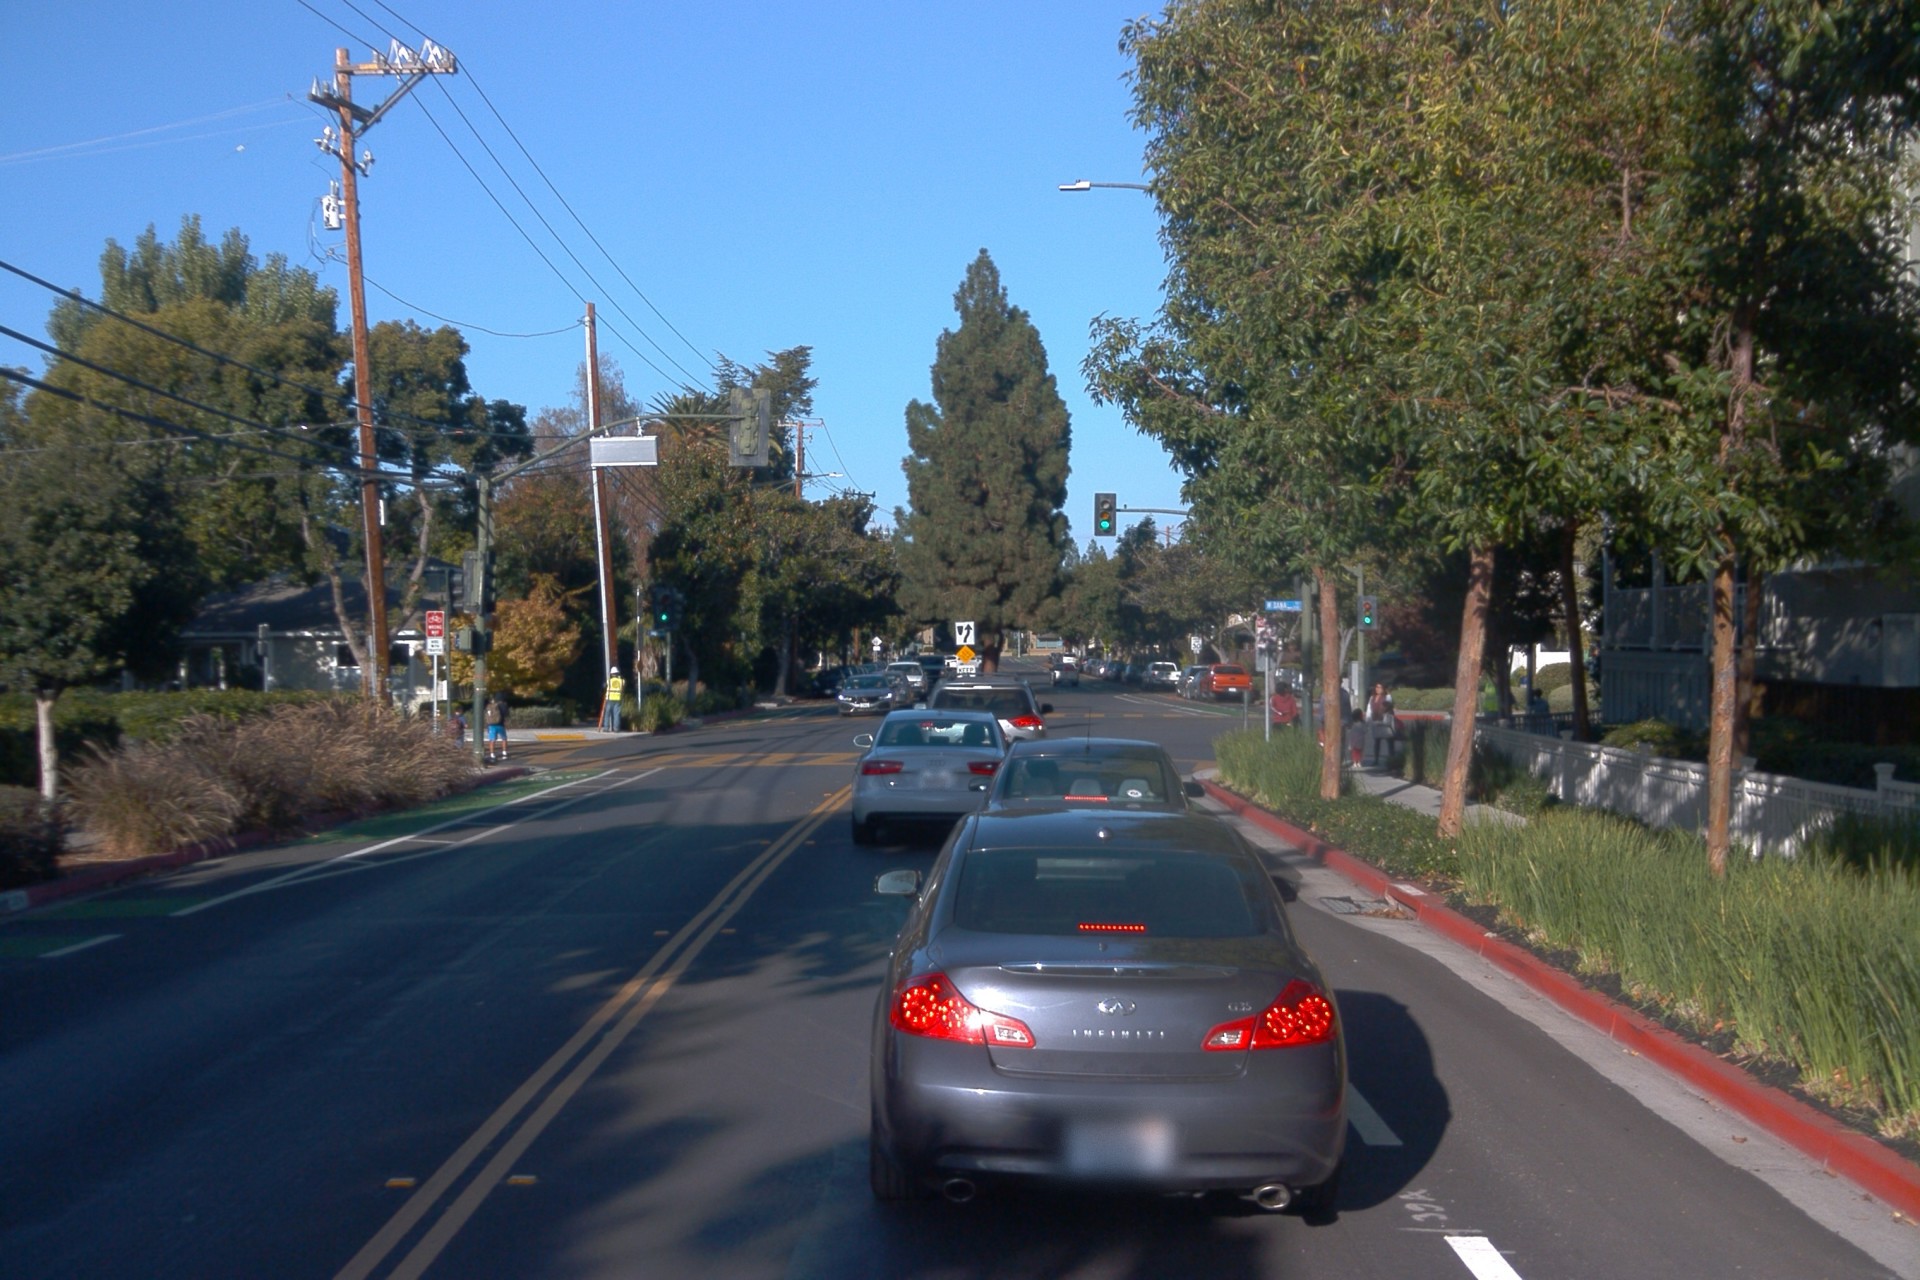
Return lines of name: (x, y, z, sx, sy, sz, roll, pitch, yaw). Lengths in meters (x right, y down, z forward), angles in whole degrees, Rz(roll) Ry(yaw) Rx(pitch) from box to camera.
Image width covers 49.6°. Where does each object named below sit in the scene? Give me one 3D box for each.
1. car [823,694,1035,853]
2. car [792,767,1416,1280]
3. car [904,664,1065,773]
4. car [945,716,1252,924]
car: (-0.247, 1.443, 23.792, 2.122, 1.500, 4.397, 1, 0, 3)
car: (0.566, 1.433, 9.064, 2.033, 1.460, 4.435, 1, 0, 3)
car: (0.381, 1.166, 32.561, 2.317, 1.510, 4.744, 1, 0, 1)
car: (0.991, 1.270, 15.846, 2.028, 1.210, 4.035, 1, 0, 2)
